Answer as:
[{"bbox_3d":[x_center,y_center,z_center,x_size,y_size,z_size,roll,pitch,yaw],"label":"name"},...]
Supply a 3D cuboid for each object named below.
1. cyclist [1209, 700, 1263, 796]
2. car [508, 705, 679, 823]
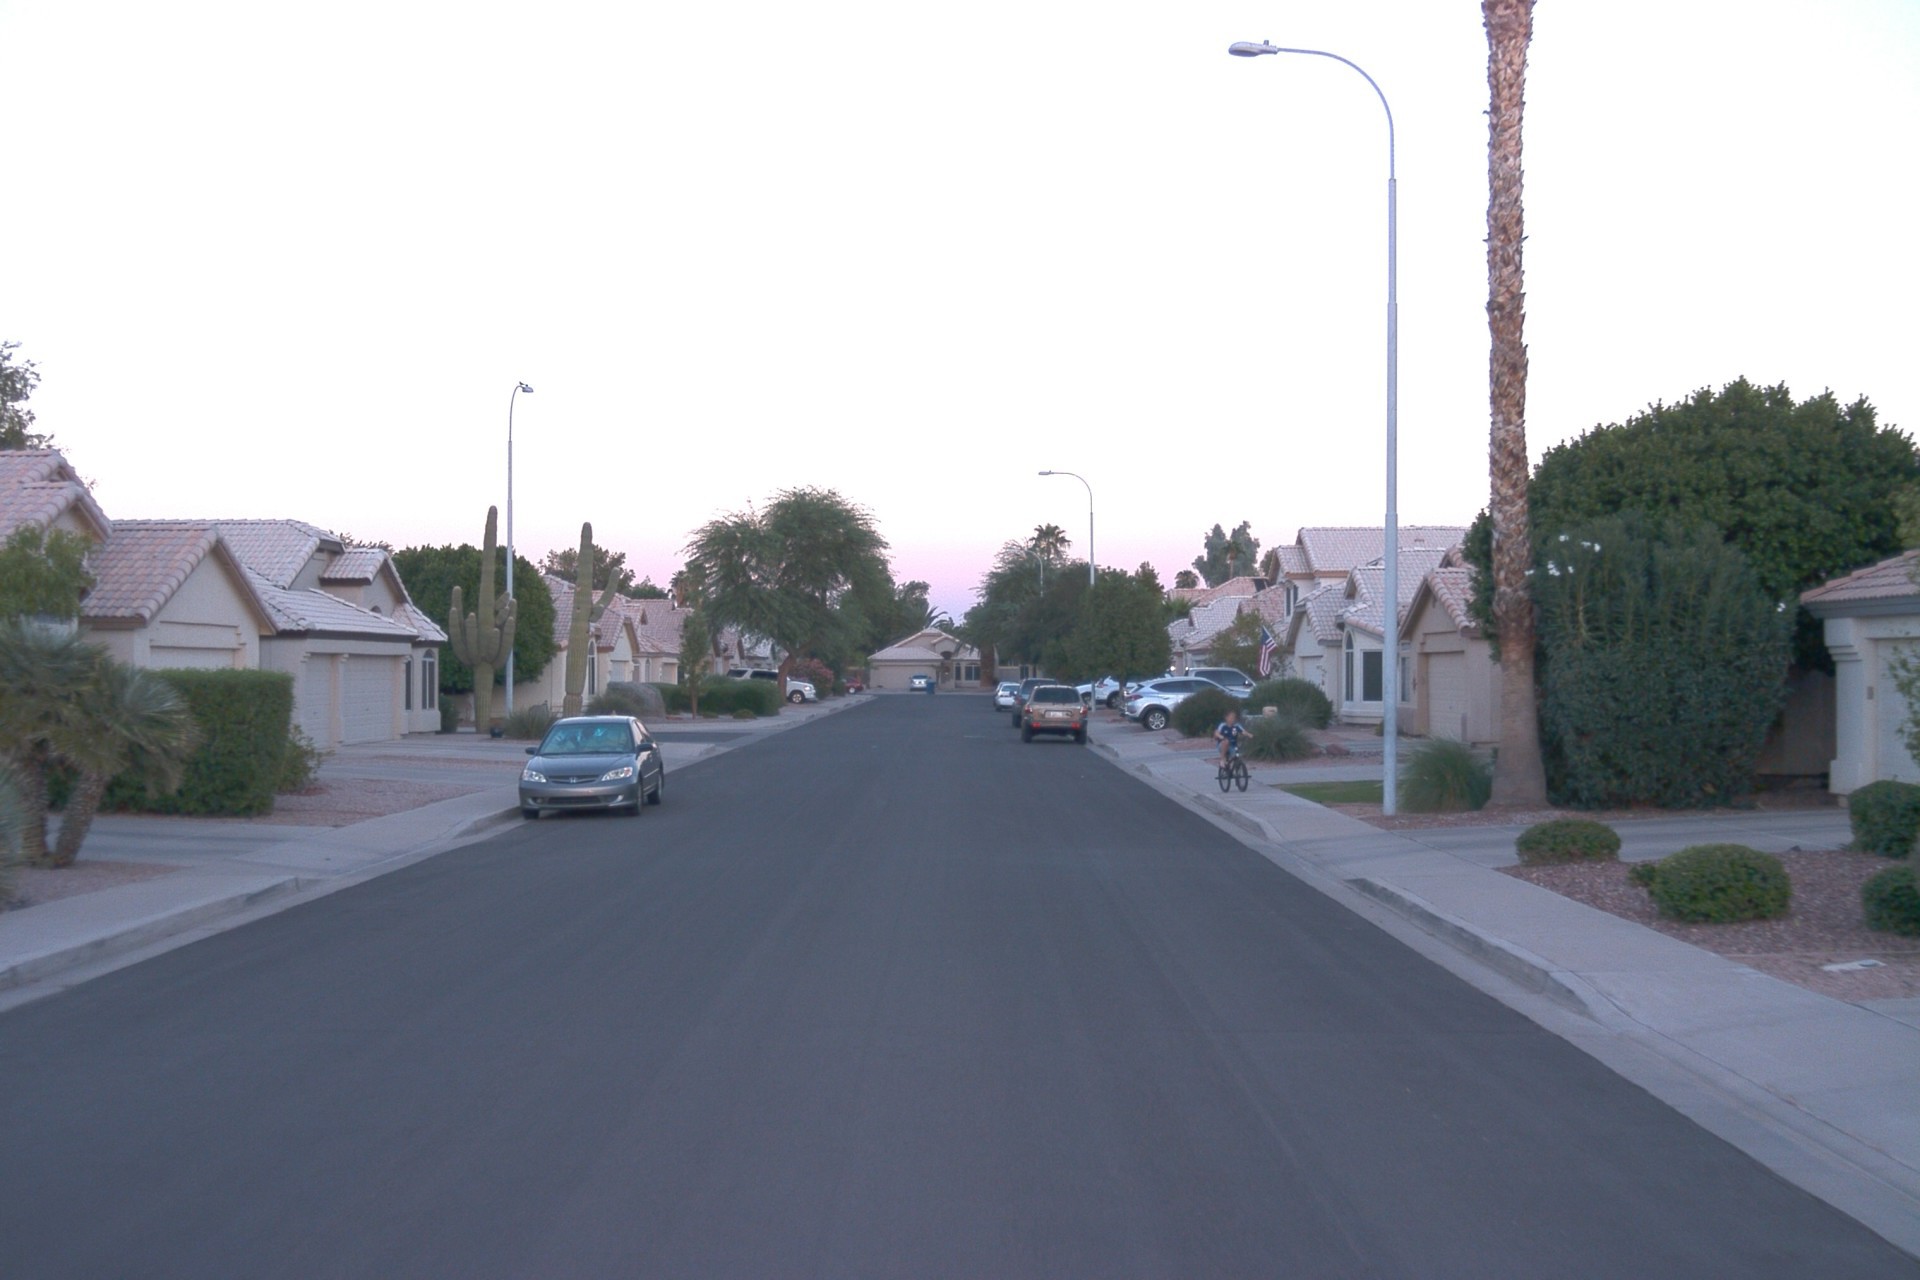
[{"bbox_3d":[4.548,1.770,34.477,0.747,1.510,1.563,0,0,2],"label":"cyclist"},{"bbox_3d":[-5.453,1.810,31.591,1.908,1.540,4.629,0,-1,-2],"label":"car"}]
